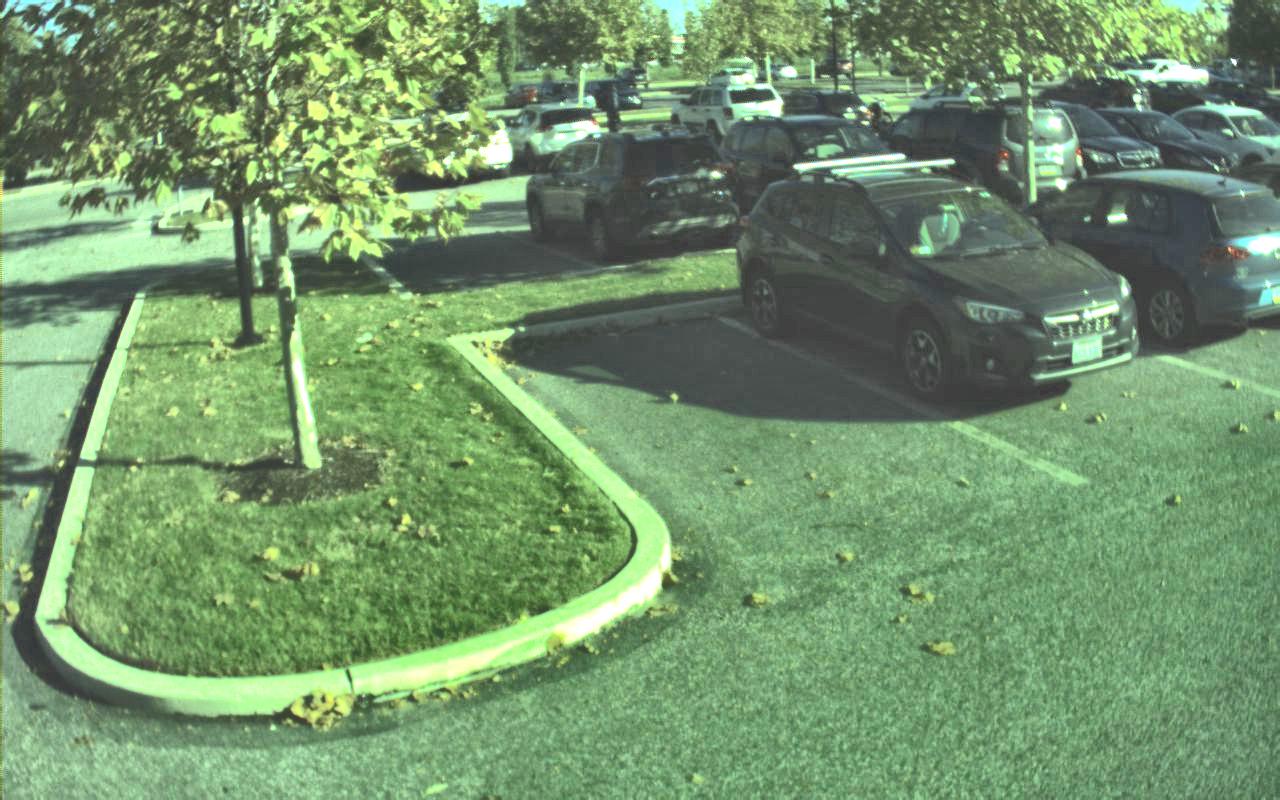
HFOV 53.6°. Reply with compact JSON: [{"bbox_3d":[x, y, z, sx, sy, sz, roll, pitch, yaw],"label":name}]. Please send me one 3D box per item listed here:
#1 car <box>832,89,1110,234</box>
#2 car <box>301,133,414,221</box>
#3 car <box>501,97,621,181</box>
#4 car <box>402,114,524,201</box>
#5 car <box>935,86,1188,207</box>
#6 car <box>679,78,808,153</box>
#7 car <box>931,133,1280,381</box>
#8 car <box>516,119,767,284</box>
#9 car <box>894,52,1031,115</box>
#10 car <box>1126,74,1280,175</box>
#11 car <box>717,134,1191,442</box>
[{"bbox_3d":[5.081,-3.864,19.095,2.031,1.745,4.628,-8,18,-23],"label":"car"},{"bbox_3d":[-7.112,-5.582,30.331,1.959,1.631,4.449,-8,18,-23],"label":"car"},{"bbox_3d":[-2.157,-6.884,32.527,2.010,1.770,4.575,-6,17,-18],"label":"car"},{"bbox_3d":[-4.592,-6.233,31.449,2.013,1.694,4.640,-7,18,-21],"label":"car"},{"bbox_3d":[7.269,-4.480,20.704,1.939,1.609,4.411,-10,19,-28],"label":"car"},{"bbox_3d":[2.765,-7.907,34.251,2.013,1.725,4.629,-6,17,-16],"label":"car"},{"bbox_3d":[4.957,-1.607,11.737,1.923,1.634,4.333,-9,18,-25],"label":"car"},{"bbox_3d":[-0.146,-3.046,18.275,2.019,1.709,4.752,-7,18,-21],"label":"car"},{"bbox_3d":[9.798,-9.687,36.847,1.973,1.680,4.584,-7,18,-21],"label":"car"},{"bbox_3d":[12.213,-5.733,23.538,1.966,1.617,4.564,-6,17,-17],"label":"car"},{"bbox_3d":[2.502,-1.237,10.730,1.955,1.704,4.537,-7,18,-20],"label":"car"}]
